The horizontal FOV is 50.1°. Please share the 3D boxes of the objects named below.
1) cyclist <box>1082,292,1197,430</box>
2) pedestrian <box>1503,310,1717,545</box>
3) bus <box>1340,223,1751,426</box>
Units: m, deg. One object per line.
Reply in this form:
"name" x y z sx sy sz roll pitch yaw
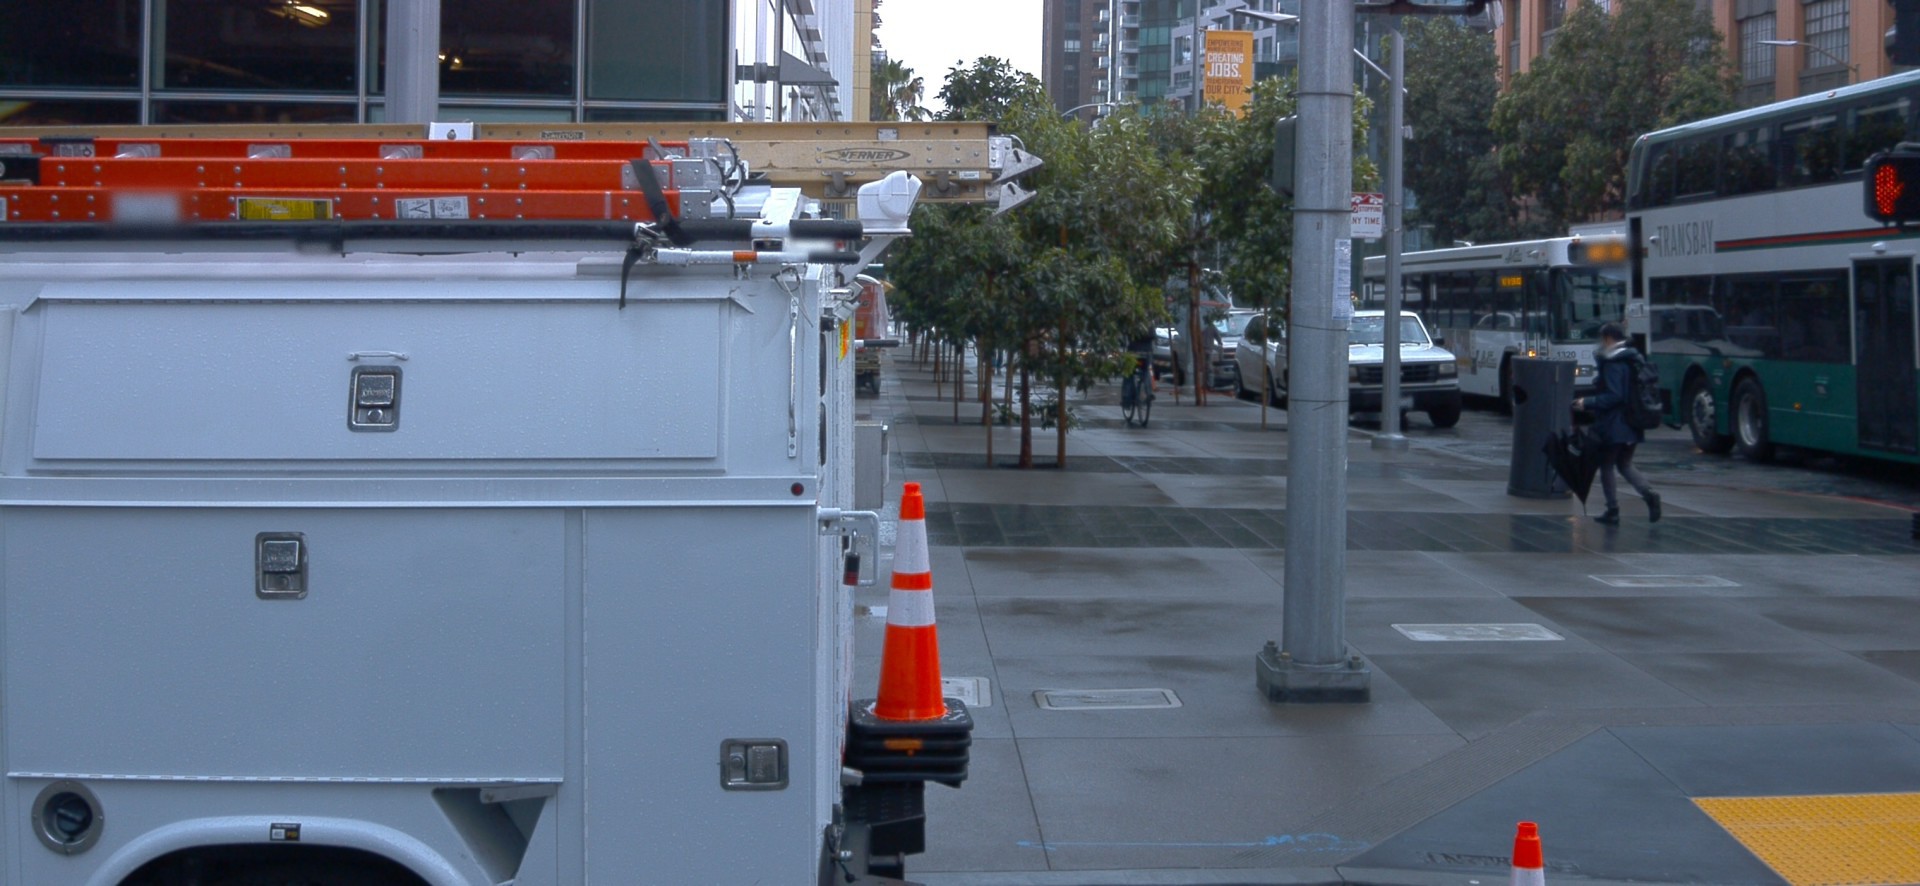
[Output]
"cyclist" 2.407 -1.144 27.864 1.210 1.741 2.030 0 4 -5
"pedestrian" 4.877 -0.153 15.439 1.244 1.638 0.910 -1 2 -25
"bus" 9.877 -2.412 36.818 3.258 2.996 12.707 0 6 -2
